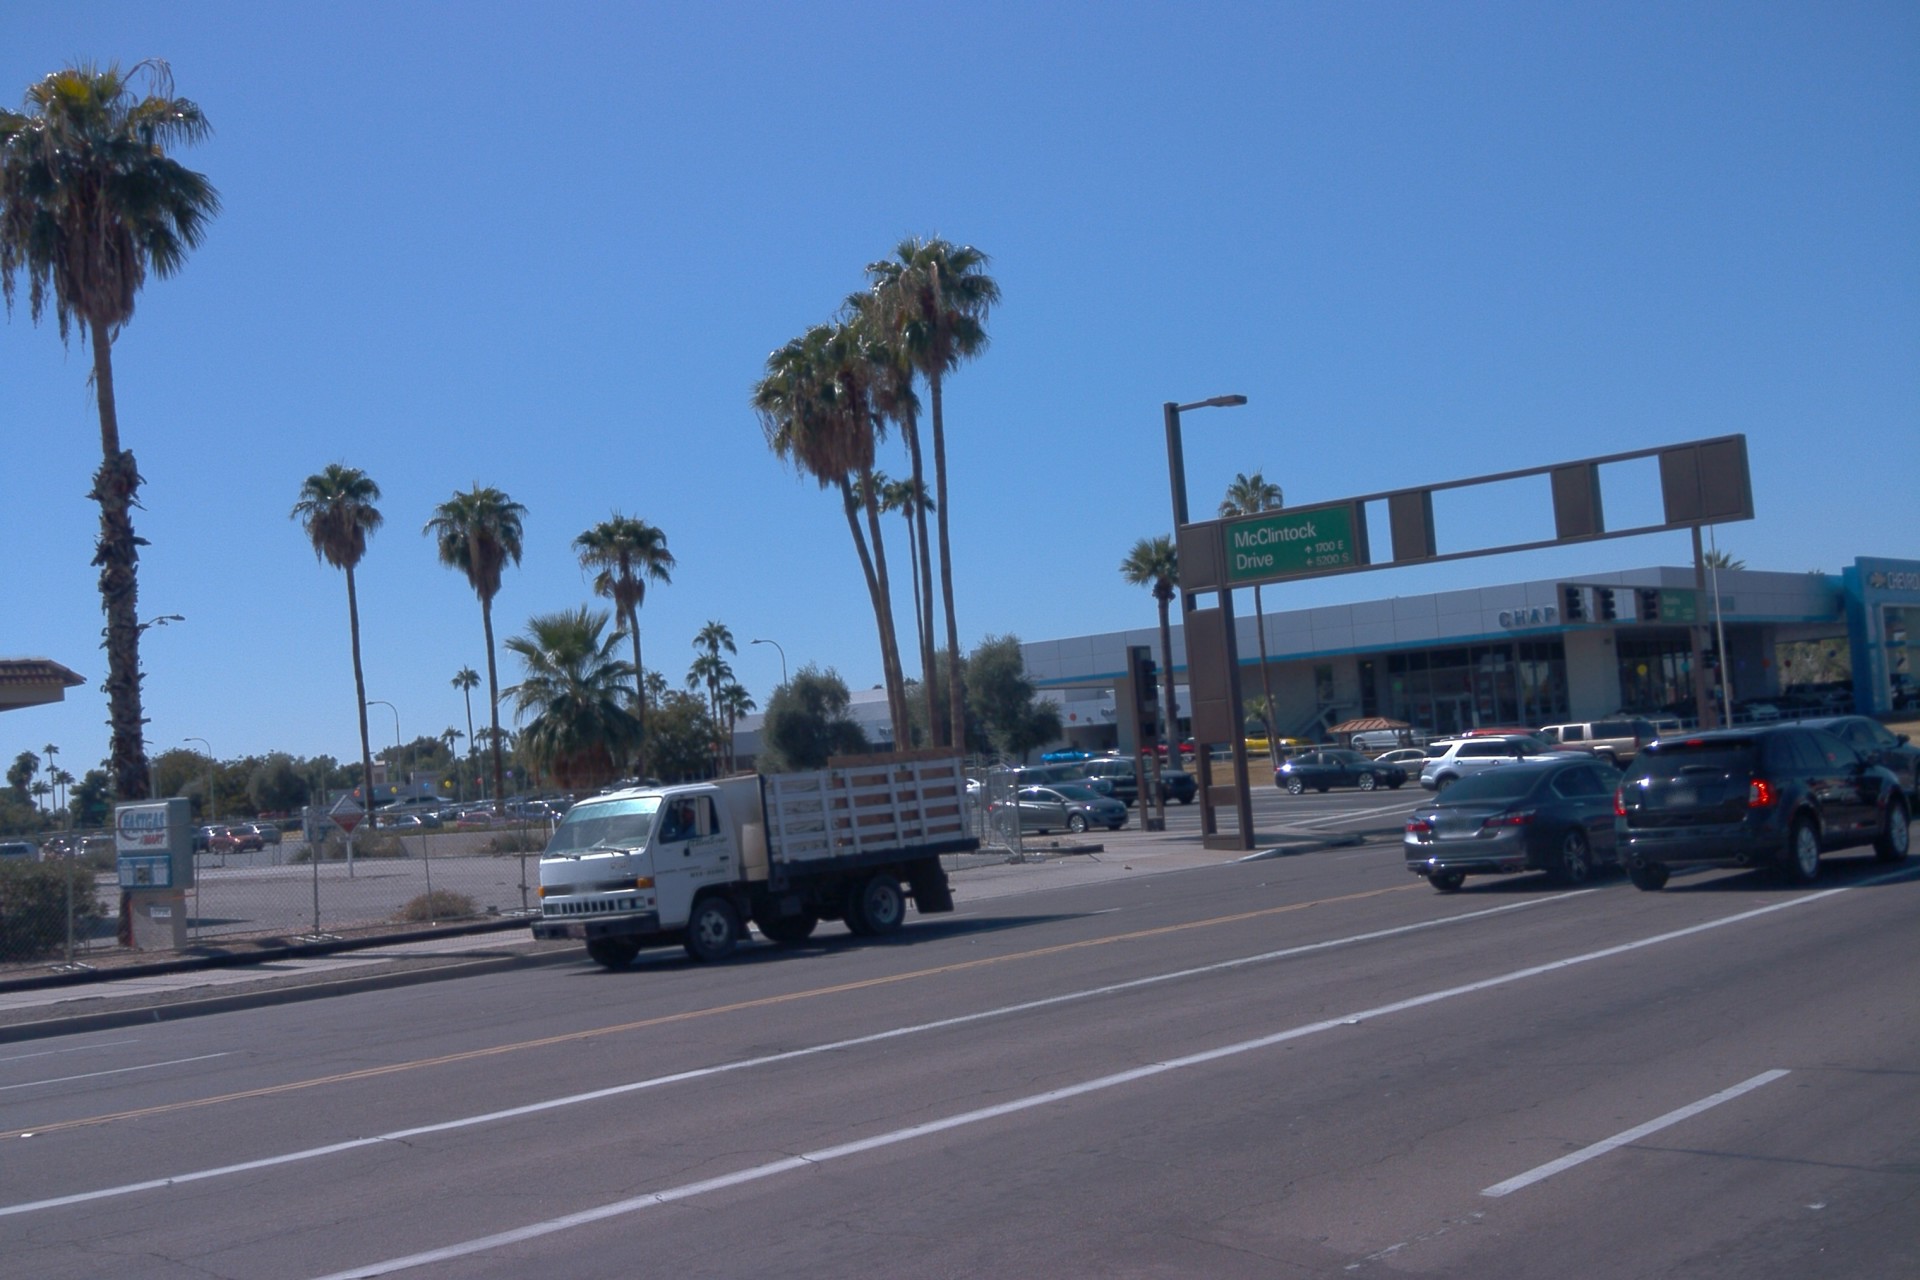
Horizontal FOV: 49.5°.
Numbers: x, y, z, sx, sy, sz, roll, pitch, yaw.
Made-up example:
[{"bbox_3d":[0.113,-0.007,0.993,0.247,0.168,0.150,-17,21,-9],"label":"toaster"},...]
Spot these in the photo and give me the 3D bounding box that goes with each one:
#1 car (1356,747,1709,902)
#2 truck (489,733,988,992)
[{"bbox_3d":[7.146,2.178,25.667,2.139,1.490,4.938,-1,-1,43],"label":"car"},{"bbox_3d":[-2.603,2.575,25.924,2.831,2.600,5.783,-1,-1,41],"label":"truck"}]
